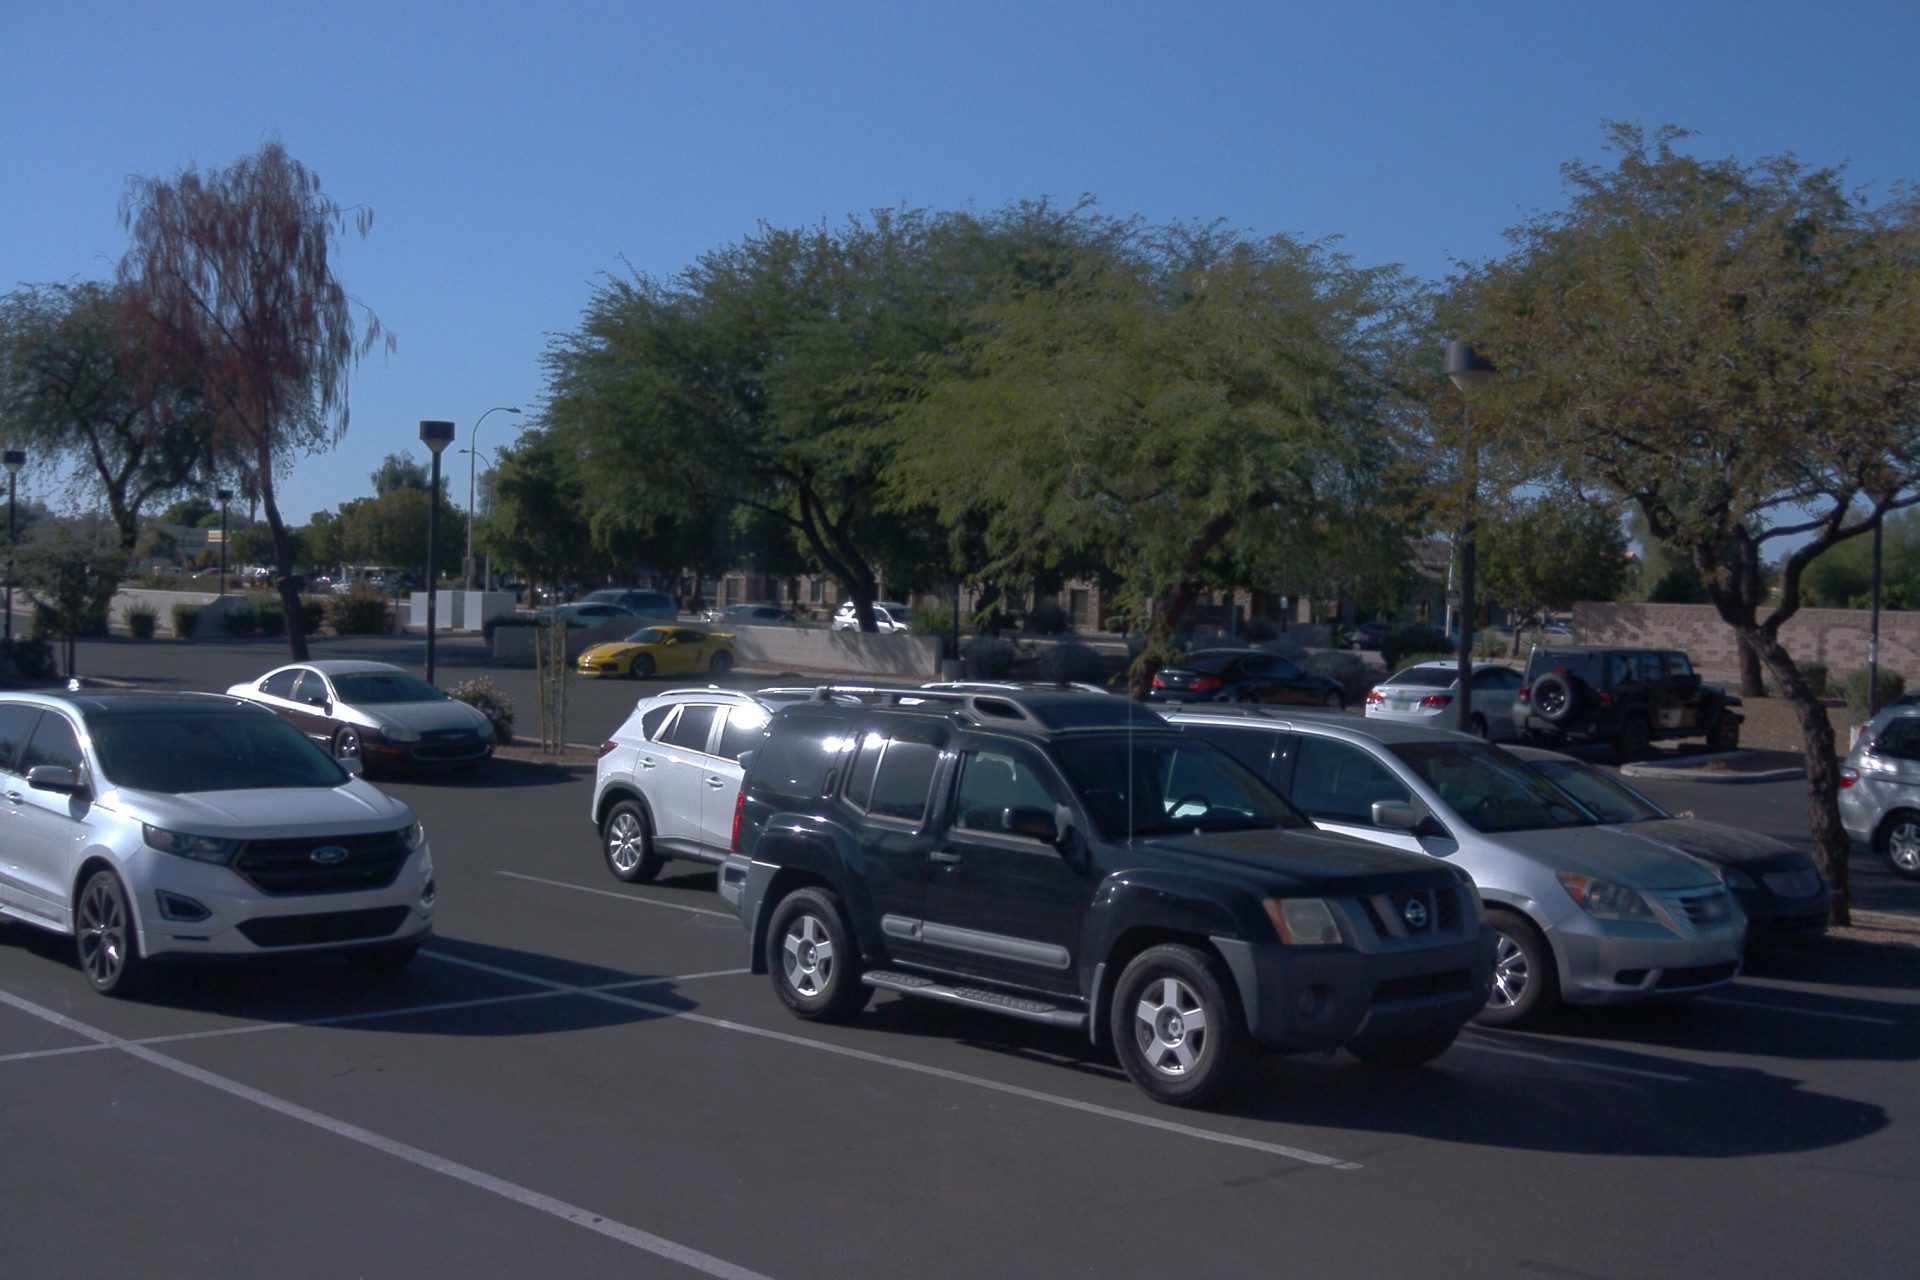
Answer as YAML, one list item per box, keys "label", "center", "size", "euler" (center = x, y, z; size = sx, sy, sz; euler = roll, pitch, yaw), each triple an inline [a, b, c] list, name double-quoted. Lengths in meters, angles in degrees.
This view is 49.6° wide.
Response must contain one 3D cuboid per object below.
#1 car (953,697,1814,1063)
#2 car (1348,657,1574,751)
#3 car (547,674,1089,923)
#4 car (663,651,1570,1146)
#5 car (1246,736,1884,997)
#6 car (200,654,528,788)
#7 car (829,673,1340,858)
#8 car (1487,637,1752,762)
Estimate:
- label: "car"
  center: [2.572, 1.335, 13.507]
  size: [5.039, 1.780, 2.248]
  euler: [1, 0, 43]
- label: "car"
  center: [8.609, 1.065, 35.546]
  size: [3.932, 1.500, 1.889]
  euler: [1, 0, -43]
- label: "car"
  center: [-1.298, 1.186, 17.403]
  size: [2.160, 1.720, 4.434]
  euler: [1, 0, -44]
- label: "car"
  center: [0.635, 1.119, 11.284]
  size: [2.178, 2.050, 4.676]
  euler: [1, 0, -42]
- label: "car"
  center: [4.490, 1.588, 15.832]
  size: [2.073, 1.490, 4.184]
  euler: [1, 0, -43]
- label: "car"
  center: [-8.227, 1.030, 28.362]
  size: [2.114, 1.600, 5.046]
  euler: [1, 0, -45]
- label: "car"
  center: [1.064, 1.085, 19.693]
  size: [2.057, 1.460, 4.663]
  euler: [1, 0, -44]
- label: "car"
  center: [10.865, 0.934, 34.030]
  size: [4.751, 1.910, 2.026]
  euler: [1, 0, -43]
